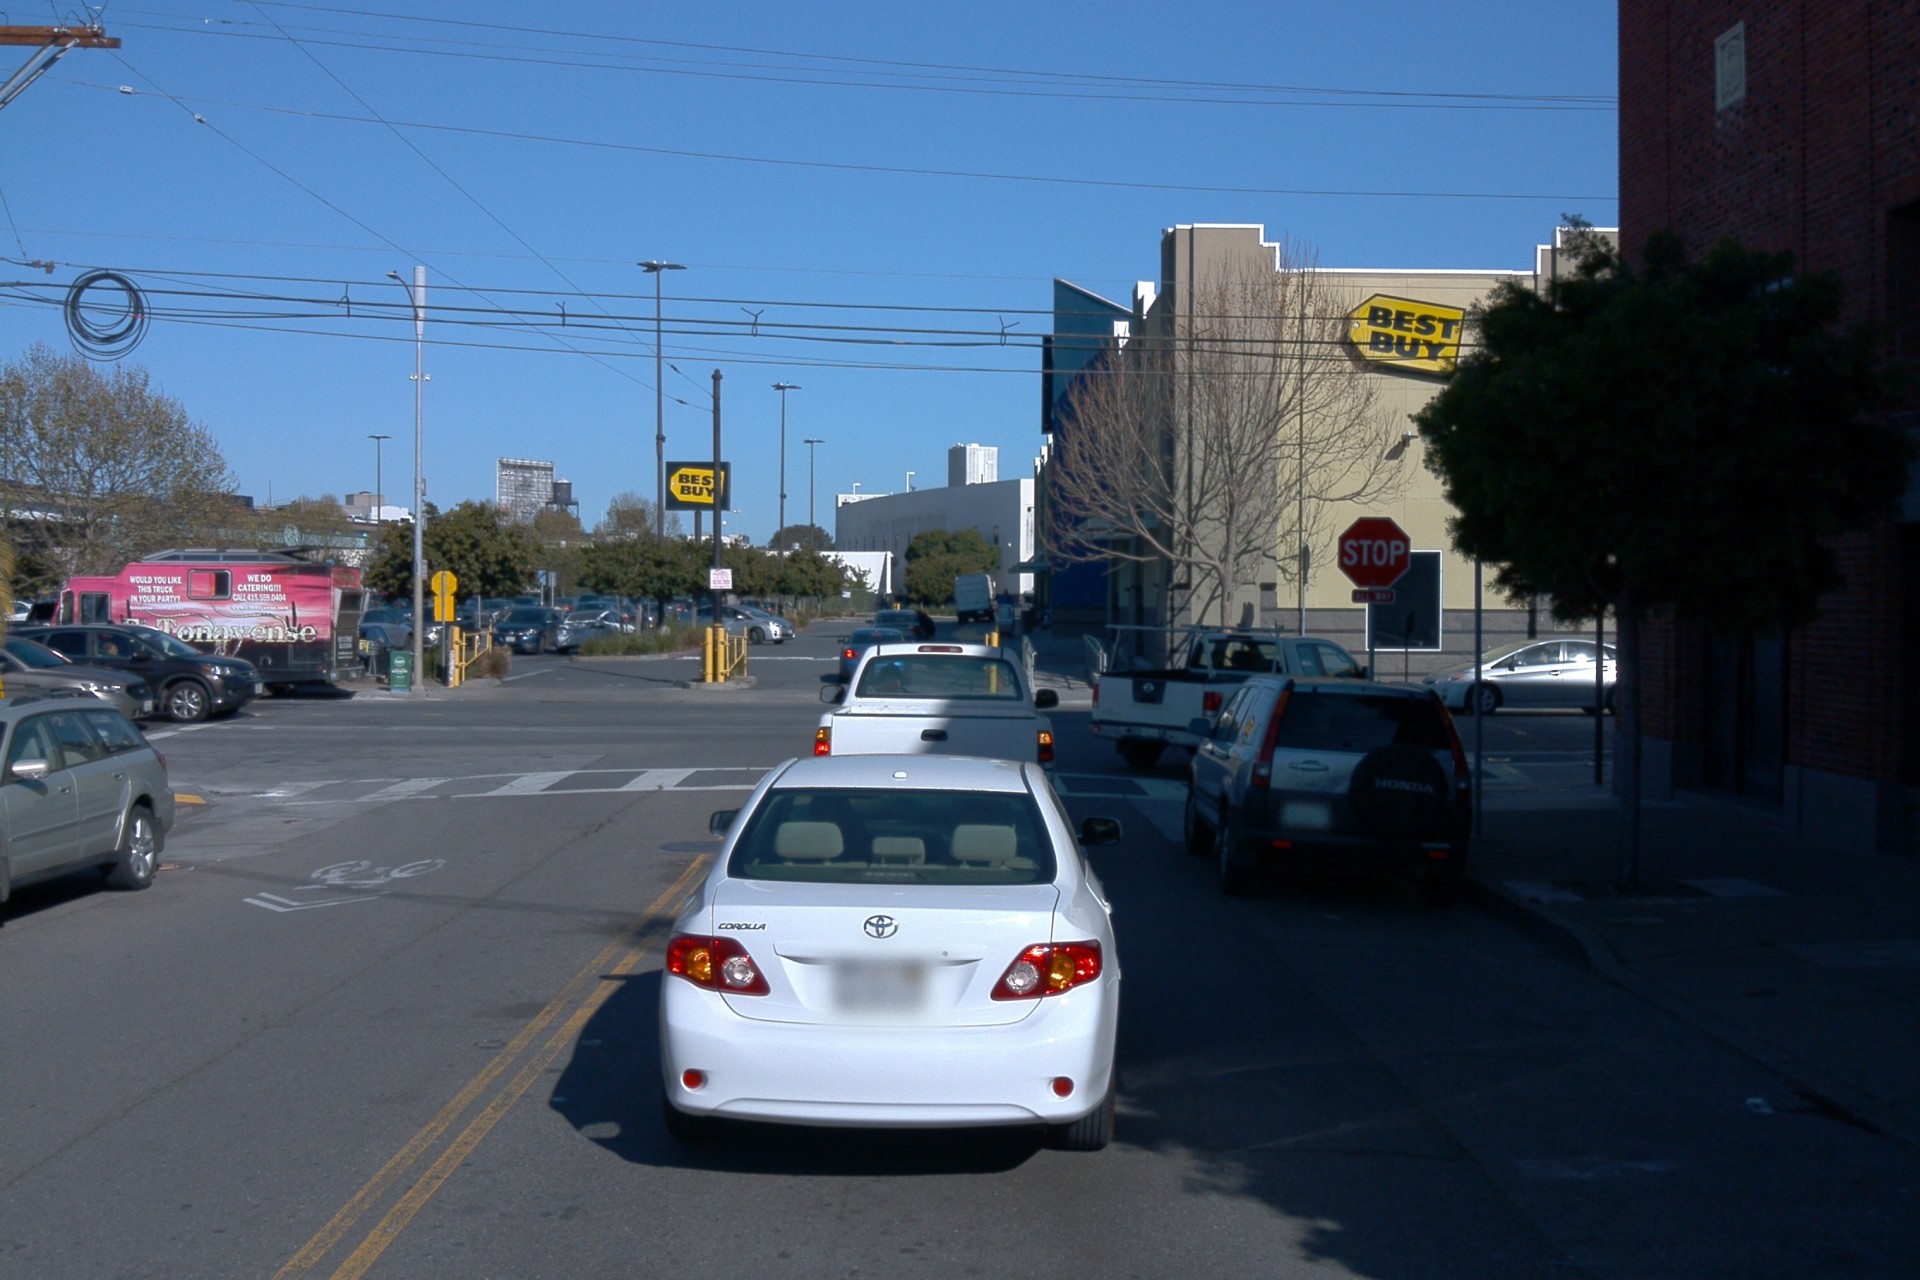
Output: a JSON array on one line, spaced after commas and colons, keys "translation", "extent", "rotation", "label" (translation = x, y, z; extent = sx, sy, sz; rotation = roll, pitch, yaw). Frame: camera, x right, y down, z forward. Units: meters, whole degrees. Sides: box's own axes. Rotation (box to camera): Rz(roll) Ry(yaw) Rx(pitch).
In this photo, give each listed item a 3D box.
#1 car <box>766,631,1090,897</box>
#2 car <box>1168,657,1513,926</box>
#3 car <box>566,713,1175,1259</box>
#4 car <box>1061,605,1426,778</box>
[{"translation": [-0.210, 0.919, 18.165], "extent": [2.386, 1.880, 5.557], "rotation": [1, 1, 1], "label": "car"}, {"translation": [2.858, 1.070, 16.444], "extent": [2.017, 1.730, 4.285], "rotation": [1, 1, 1], "label": "car"}, {"translation": [-0.253, 1.251, 9.233], "extent": [2.045, 1.580, 4.504], "rotation": [1, 1, 1], "label": "car"}, {"translation": [4.079, 0.633, 28.702], "extent": [2.389, 2.140, 5.549], "rotation": [2, 1, 40], "label": "car"}]
